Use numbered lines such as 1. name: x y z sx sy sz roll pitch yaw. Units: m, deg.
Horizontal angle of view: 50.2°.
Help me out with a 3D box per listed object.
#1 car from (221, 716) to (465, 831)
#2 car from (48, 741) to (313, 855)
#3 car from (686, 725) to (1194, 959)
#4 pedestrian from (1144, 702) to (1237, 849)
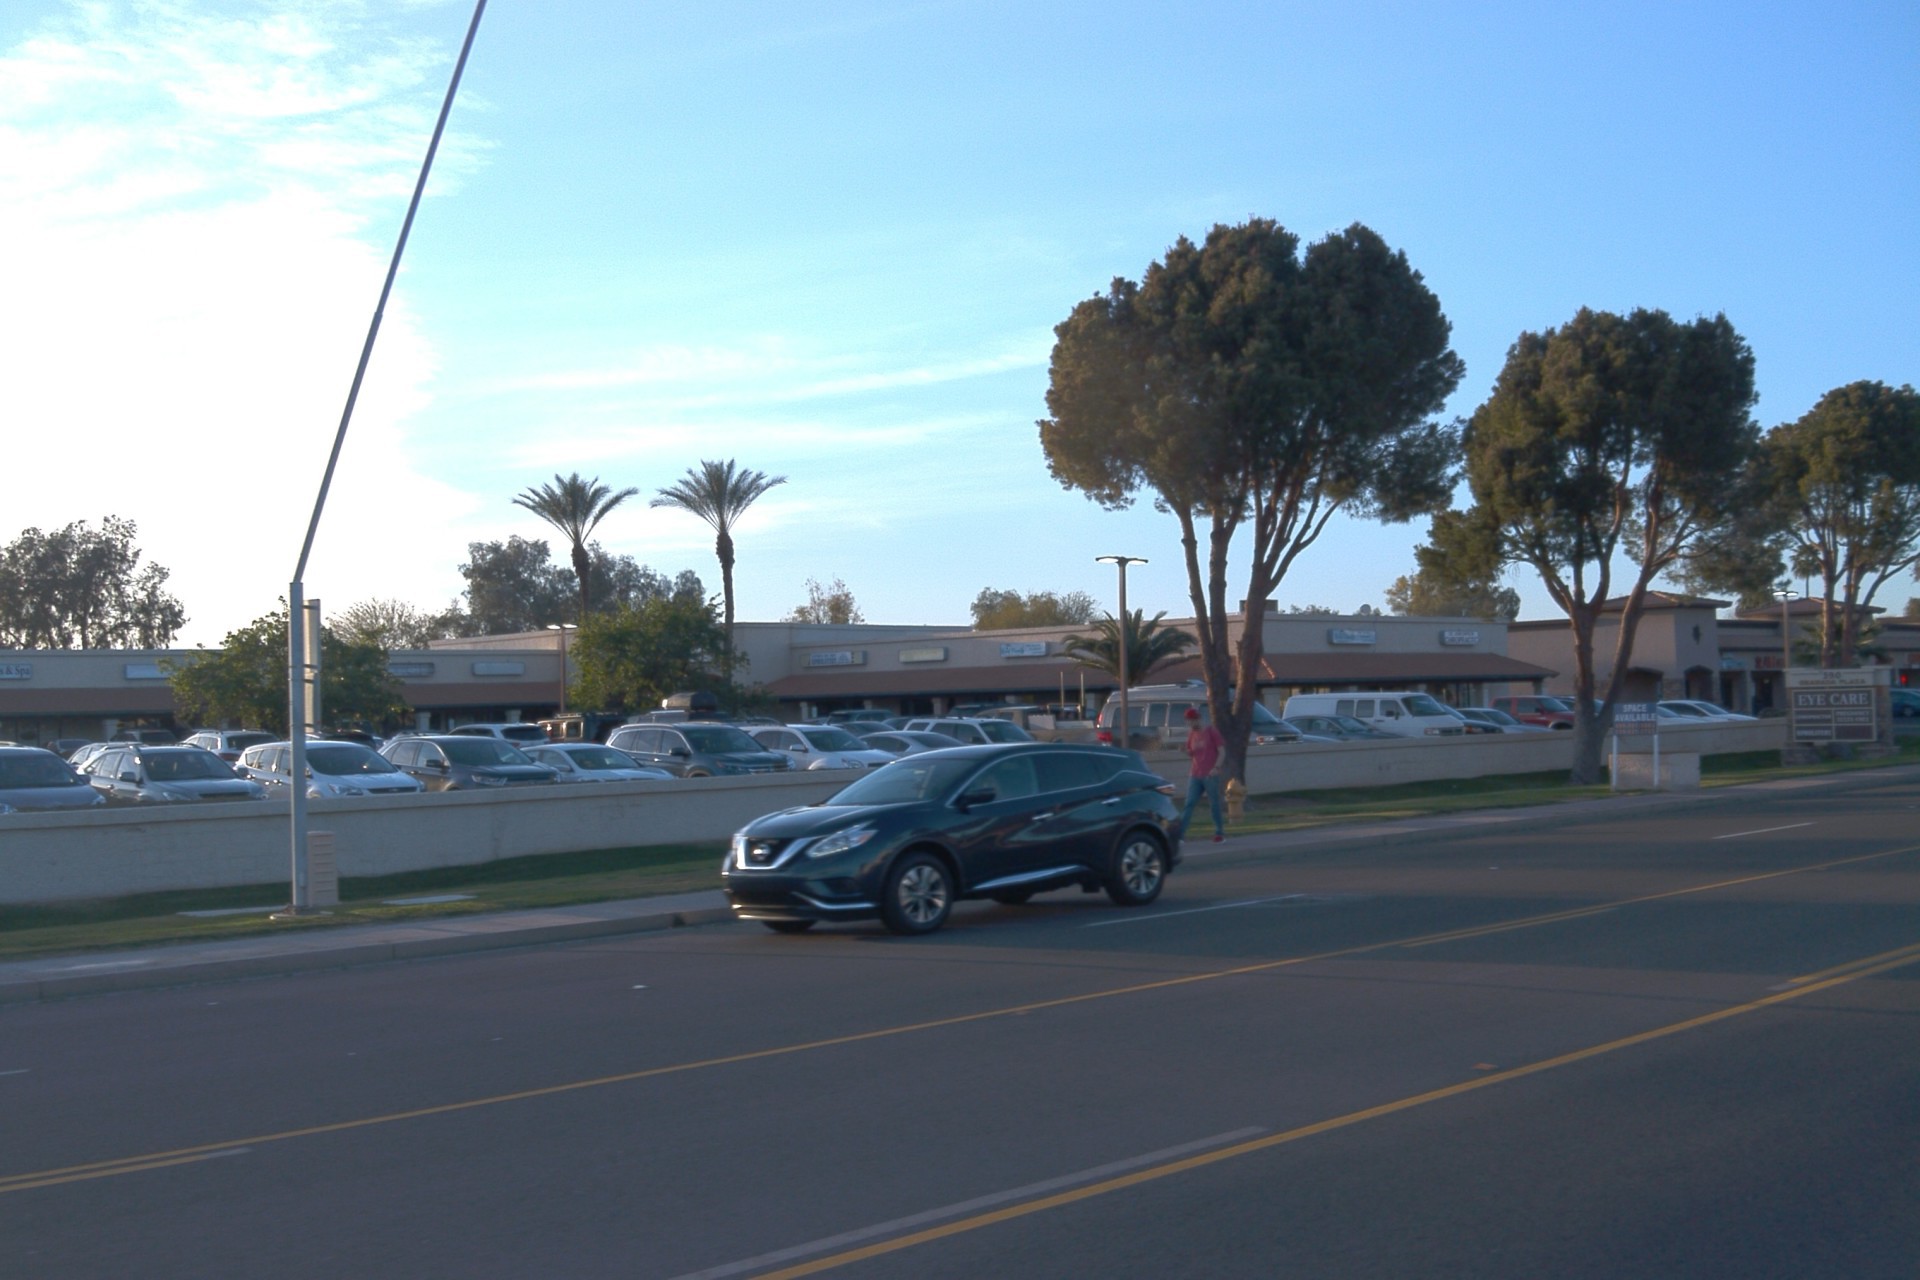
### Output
1. car: -10.660 2.230 35.231 2.164 1.700 4.577 0 -1 -44
2. car: -12.852 2.522 33.598 2.302 1.510 4.953 0 -1 -44
3. car: -0.081 1.814 19.768 4.790 1.820 2.071 0 -1 -44
4. pedestrian: 3.160 1.831 28.057 1.033 1.940 0.794 1 -1 -45
